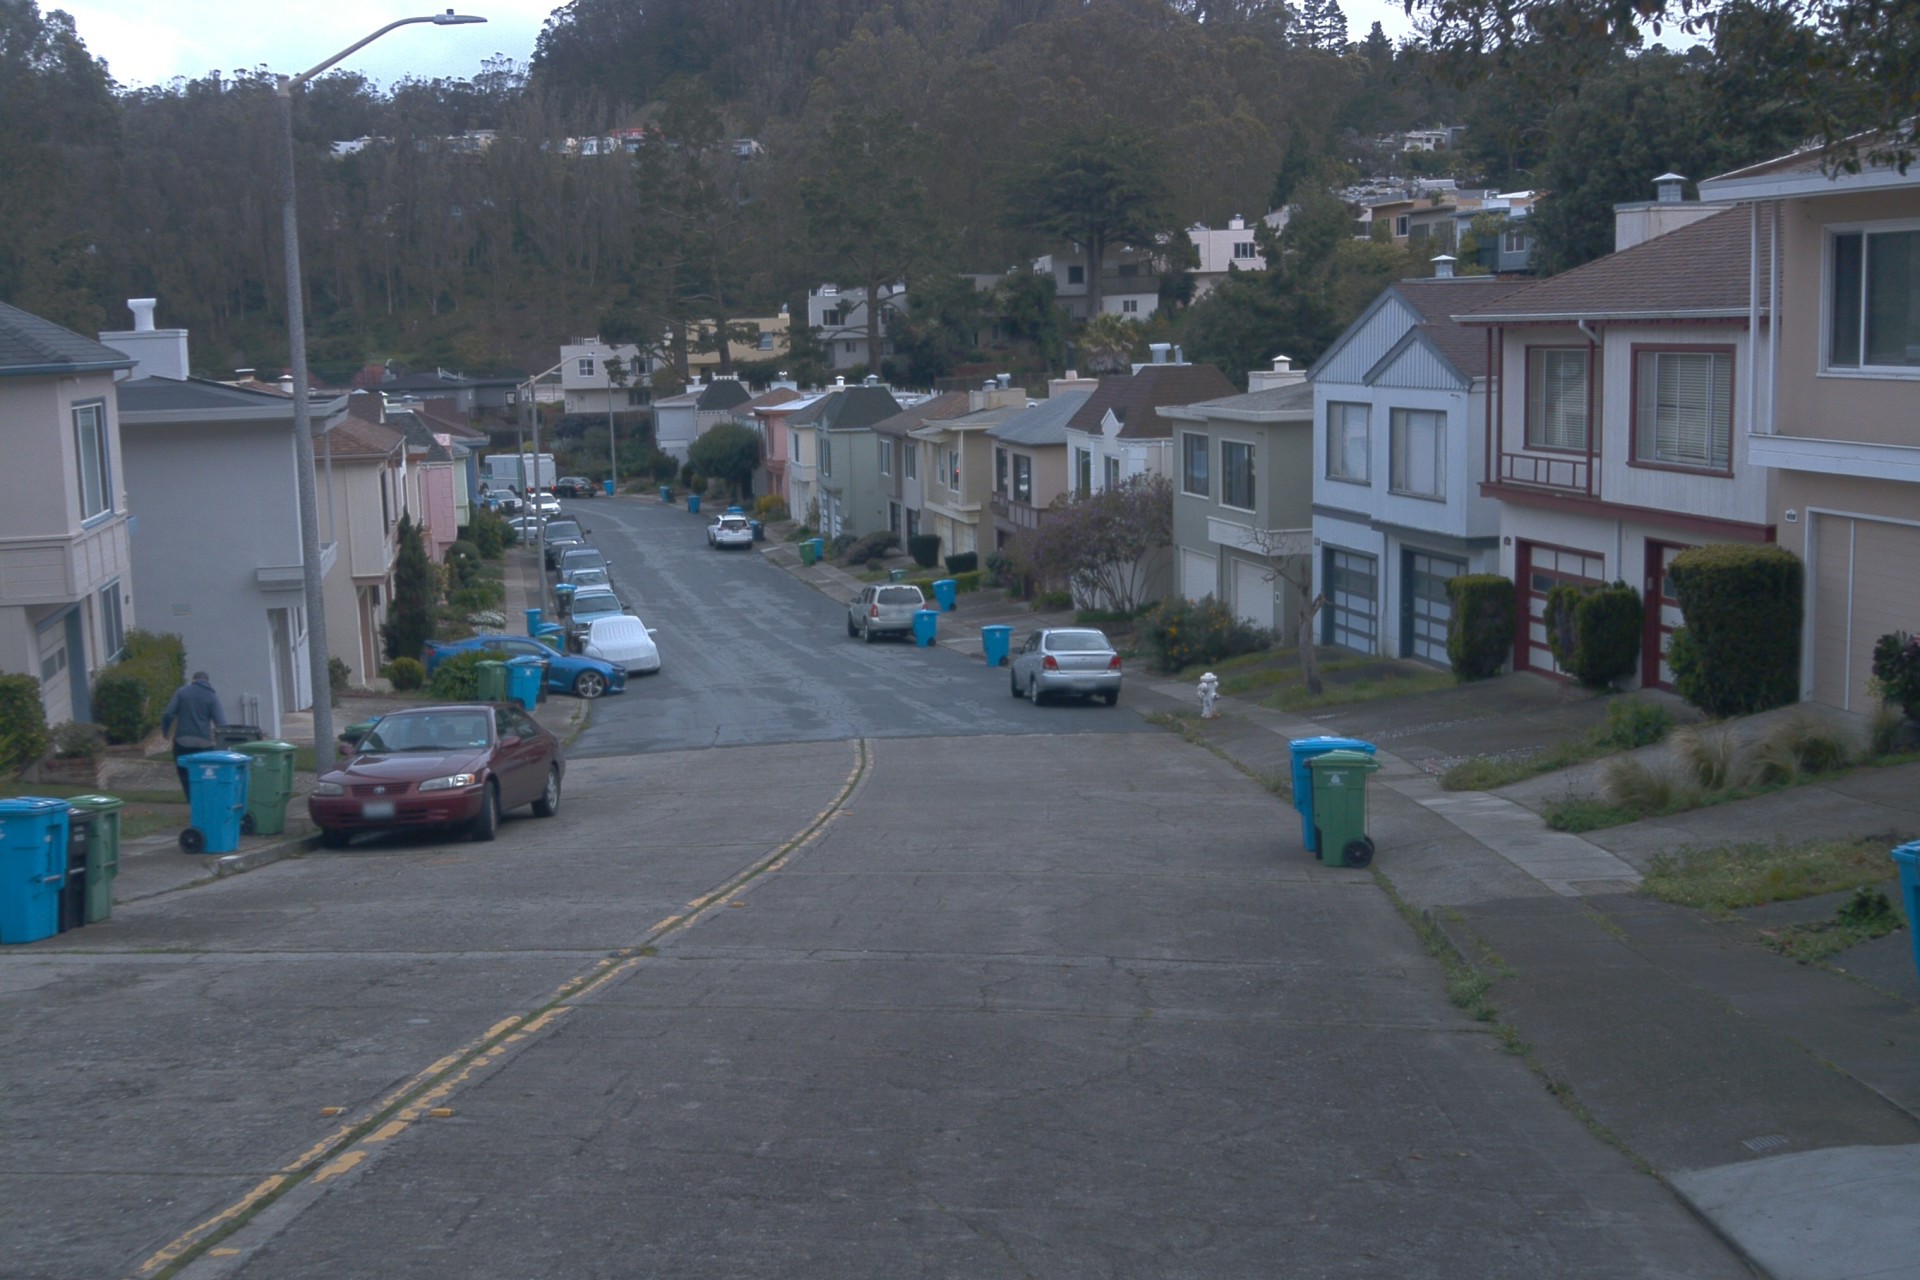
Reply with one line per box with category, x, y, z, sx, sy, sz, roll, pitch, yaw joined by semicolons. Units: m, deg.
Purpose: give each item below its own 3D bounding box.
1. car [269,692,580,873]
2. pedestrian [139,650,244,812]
car;-5.653;1.444;22.542;2.007;1.660;4.691;0;0;2
pedestrian;-8.450;0.975;22.748;0.999;1.730;1.001;0;0;-25
